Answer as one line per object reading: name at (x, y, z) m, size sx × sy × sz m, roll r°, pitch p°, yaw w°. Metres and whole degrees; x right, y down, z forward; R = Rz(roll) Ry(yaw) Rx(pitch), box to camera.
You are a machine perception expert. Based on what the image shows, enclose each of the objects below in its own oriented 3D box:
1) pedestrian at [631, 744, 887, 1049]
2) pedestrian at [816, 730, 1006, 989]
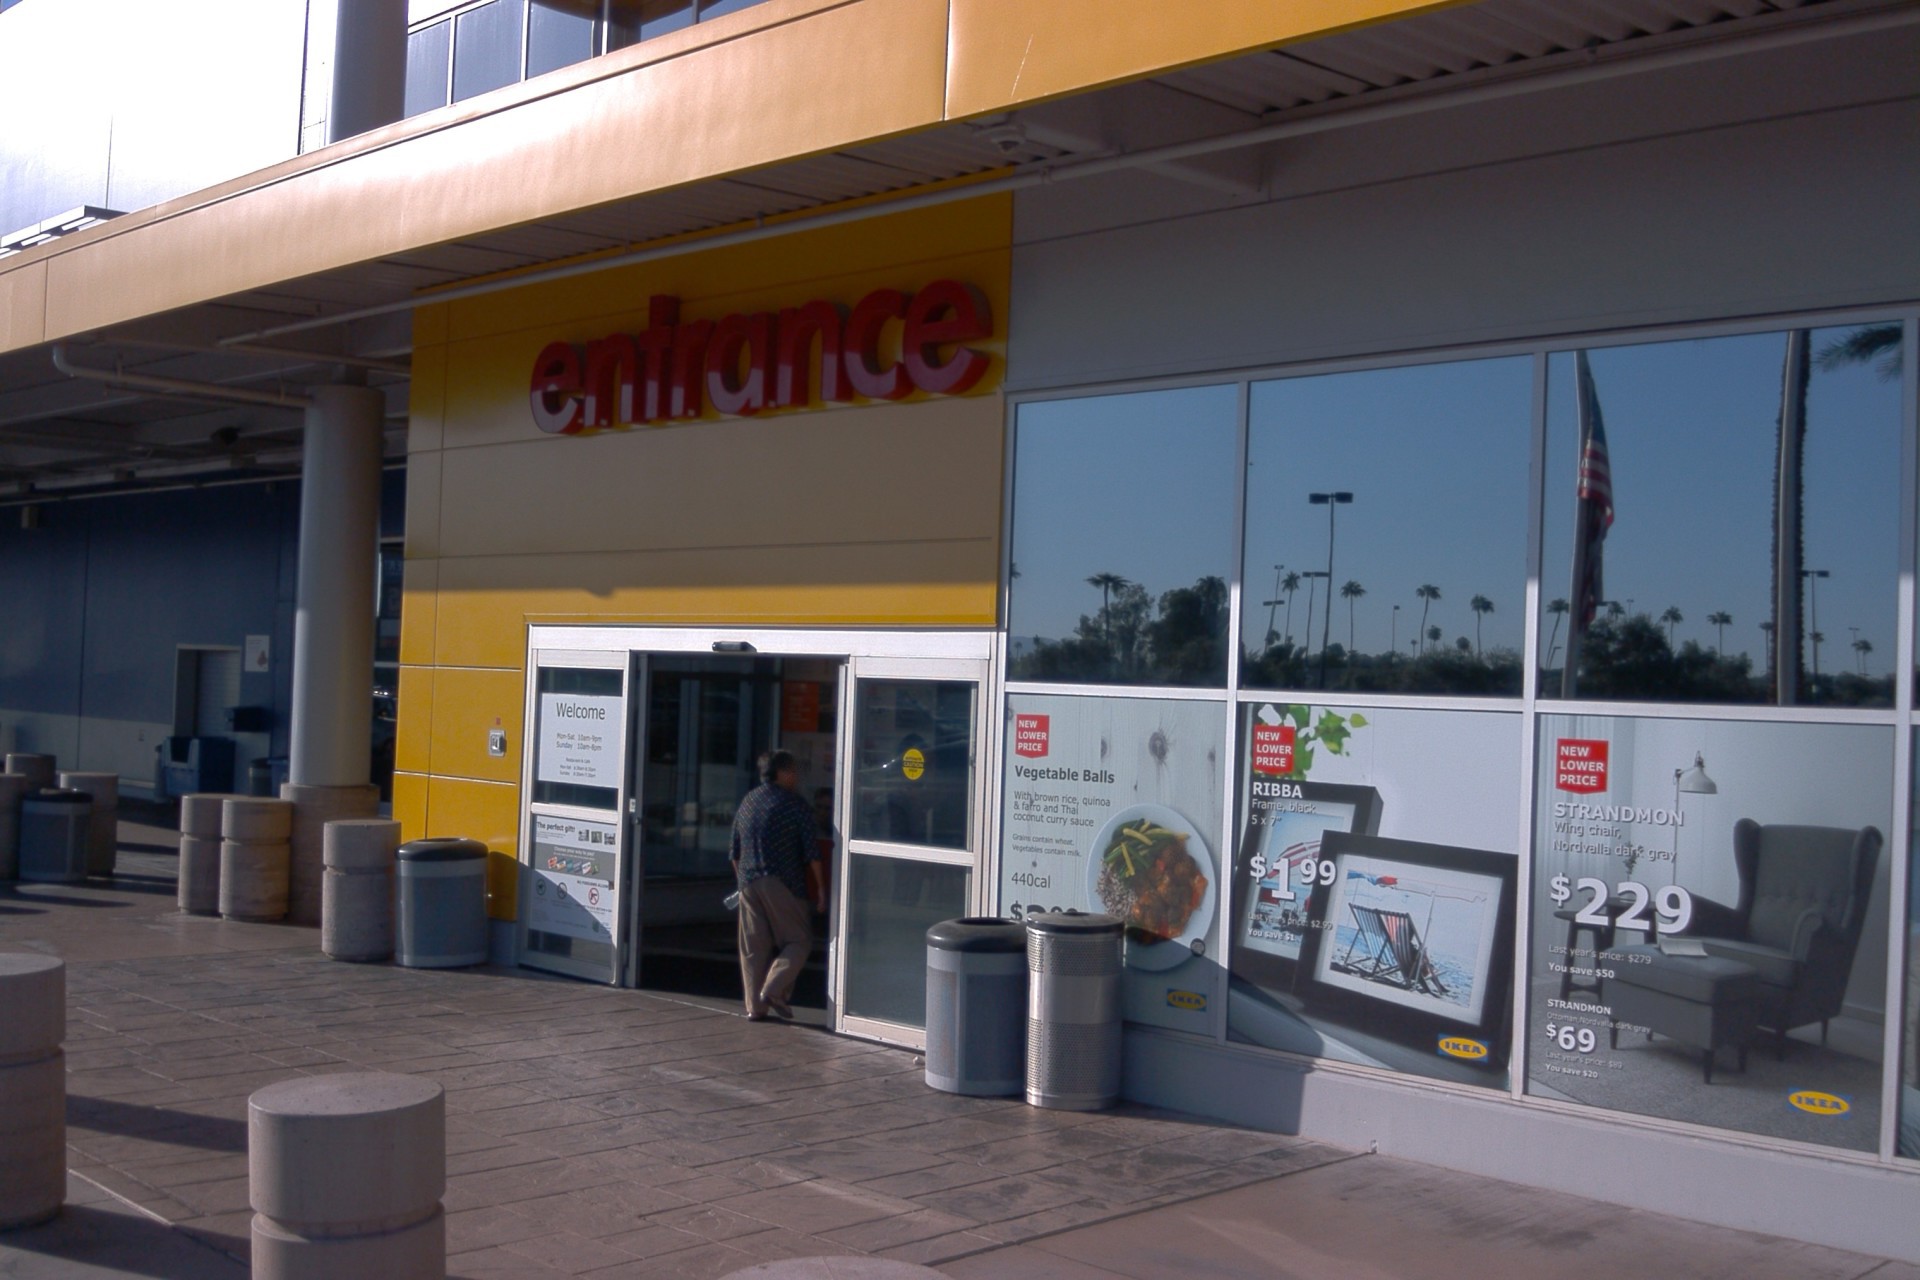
pedestrian at (-1.136, 1.416, 12.008) m, size 0.951 × 1.580 × 1.099 m, roll 1°, pitch -1°, yaw 31°
pedestrian at (-0.339, 1.479, 14.532) m, size 0.832 × 1.680 × 0.971 m, roll 1°, pitch -1°, yaw 43°
